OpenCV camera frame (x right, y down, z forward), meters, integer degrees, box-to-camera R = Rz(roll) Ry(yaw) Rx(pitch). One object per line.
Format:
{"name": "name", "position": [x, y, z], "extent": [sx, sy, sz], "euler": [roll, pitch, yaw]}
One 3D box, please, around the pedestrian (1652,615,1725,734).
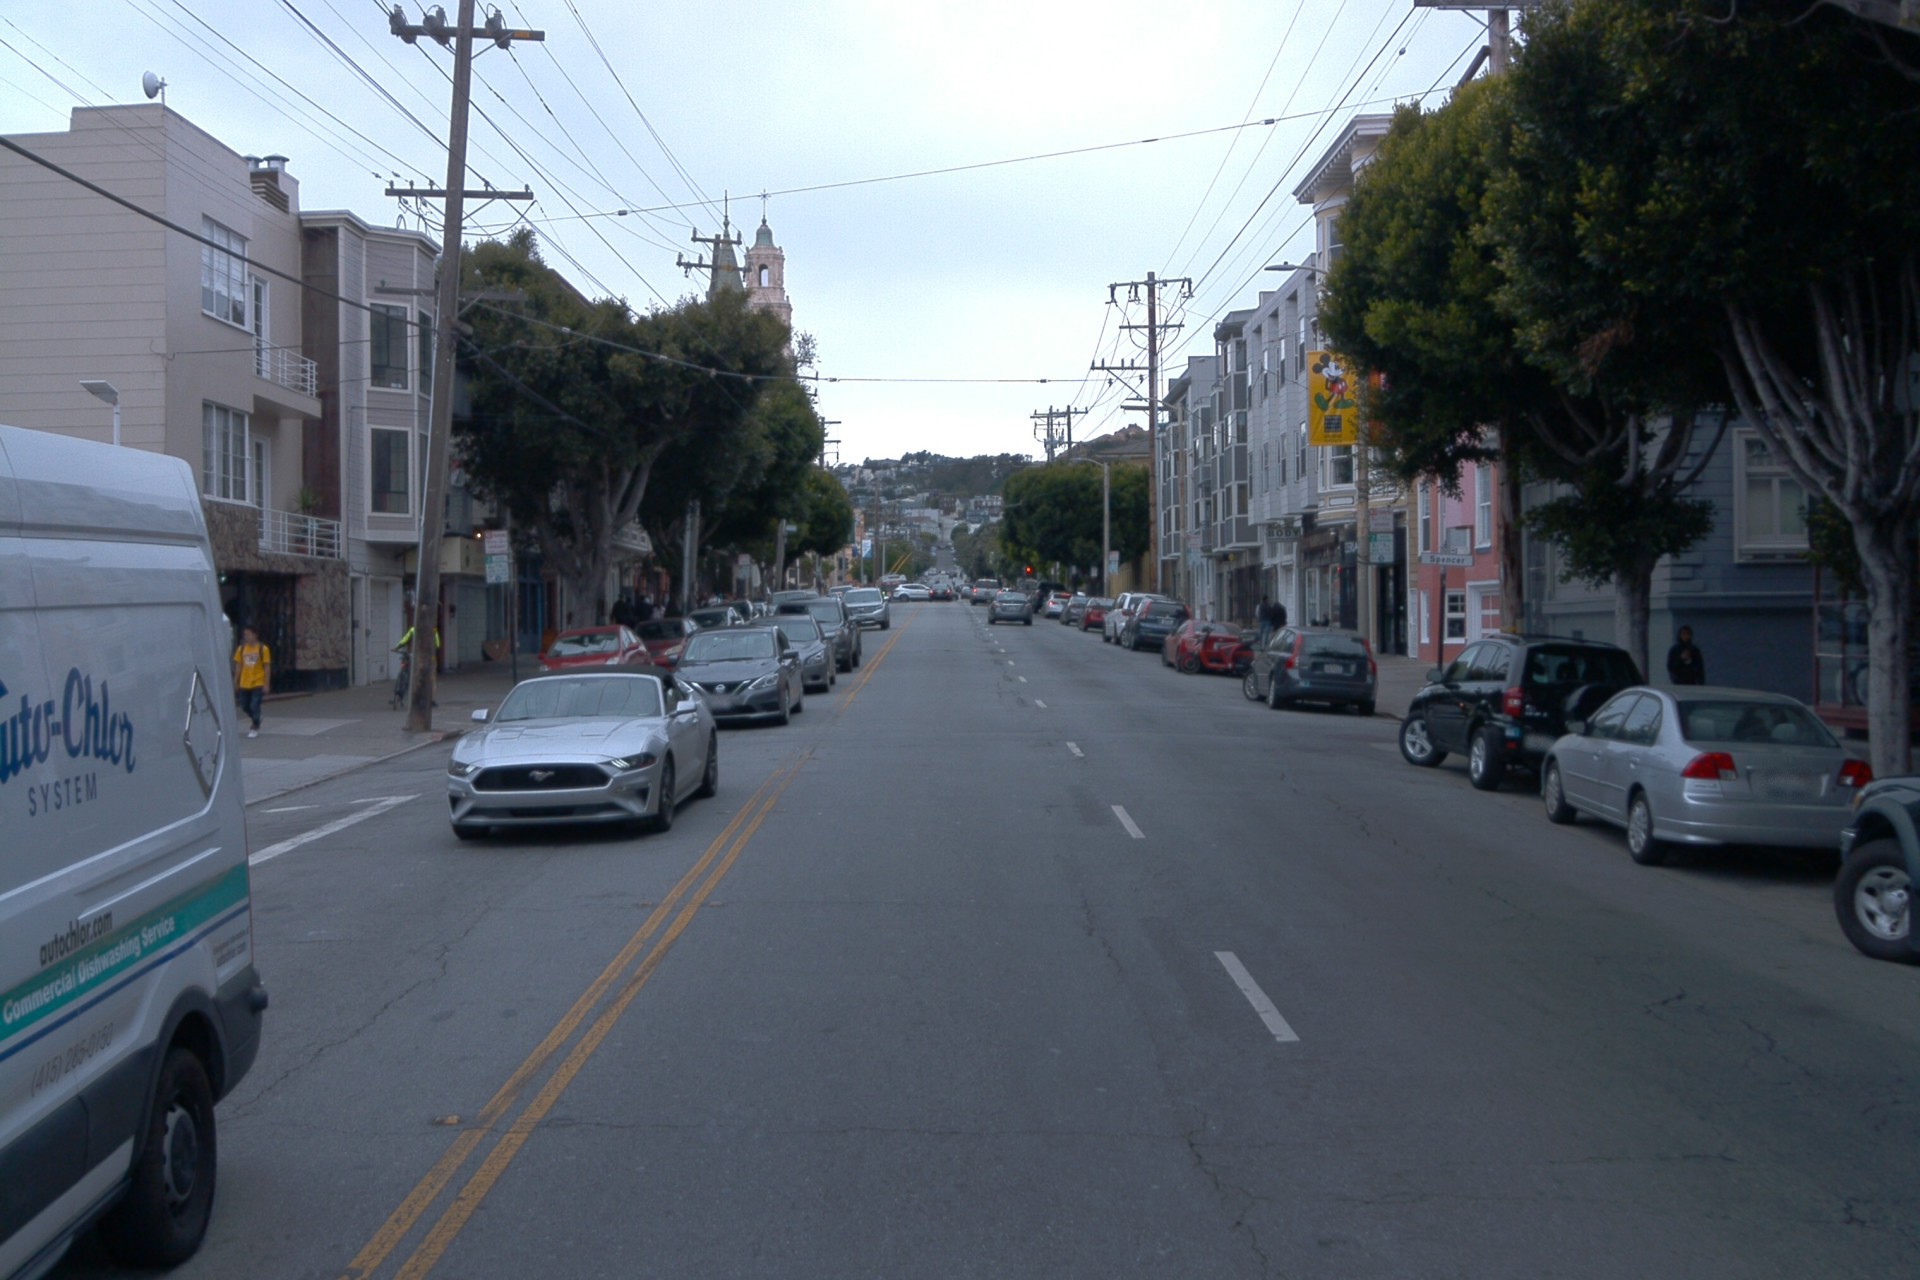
{"name": "pedestrian", "position": [10.143, 0.471, 28.662], "extent": [0.720, 1.630, 0.769], "euler": [0, 1, -3]}

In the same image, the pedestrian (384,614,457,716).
{"name": "pedestrian", "position": [-9.743, 0.431, 37.169], "extent": [1.123, 1.806, 1.128], "euler": [0, 1, -6]}

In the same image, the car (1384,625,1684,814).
{"name": "car", "position": [6.339, 0.798, 23.266], "extent": [2.005, 1.890, 4.364], "euler": [0, 1, -2]}

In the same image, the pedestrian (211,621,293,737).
{"name": "pedestrian", "position": [-10.685, 0.572, 31.047], "extent": [0.825, 1.720, 1.058], "euler": [0, 1, 3]}

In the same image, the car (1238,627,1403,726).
{"name": "car", "position": [6.218, 0.582, 36.003], "extent": [2.070, 1.580, 4.526], "euler": [0, 1, 0]}

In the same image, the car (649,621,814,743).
{"name": "car", "position": [-3.378, 0.566, 31.221], "extent": [2.004, 1.670, 4.656], "euler": [0, 1, 0]}

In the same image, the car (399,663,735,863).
{"name": "car", "position": [-3.413, 1.018, 18.859], "extent": [2.159, 1.470, 4.664], "euler": [0, 1, 0]}
